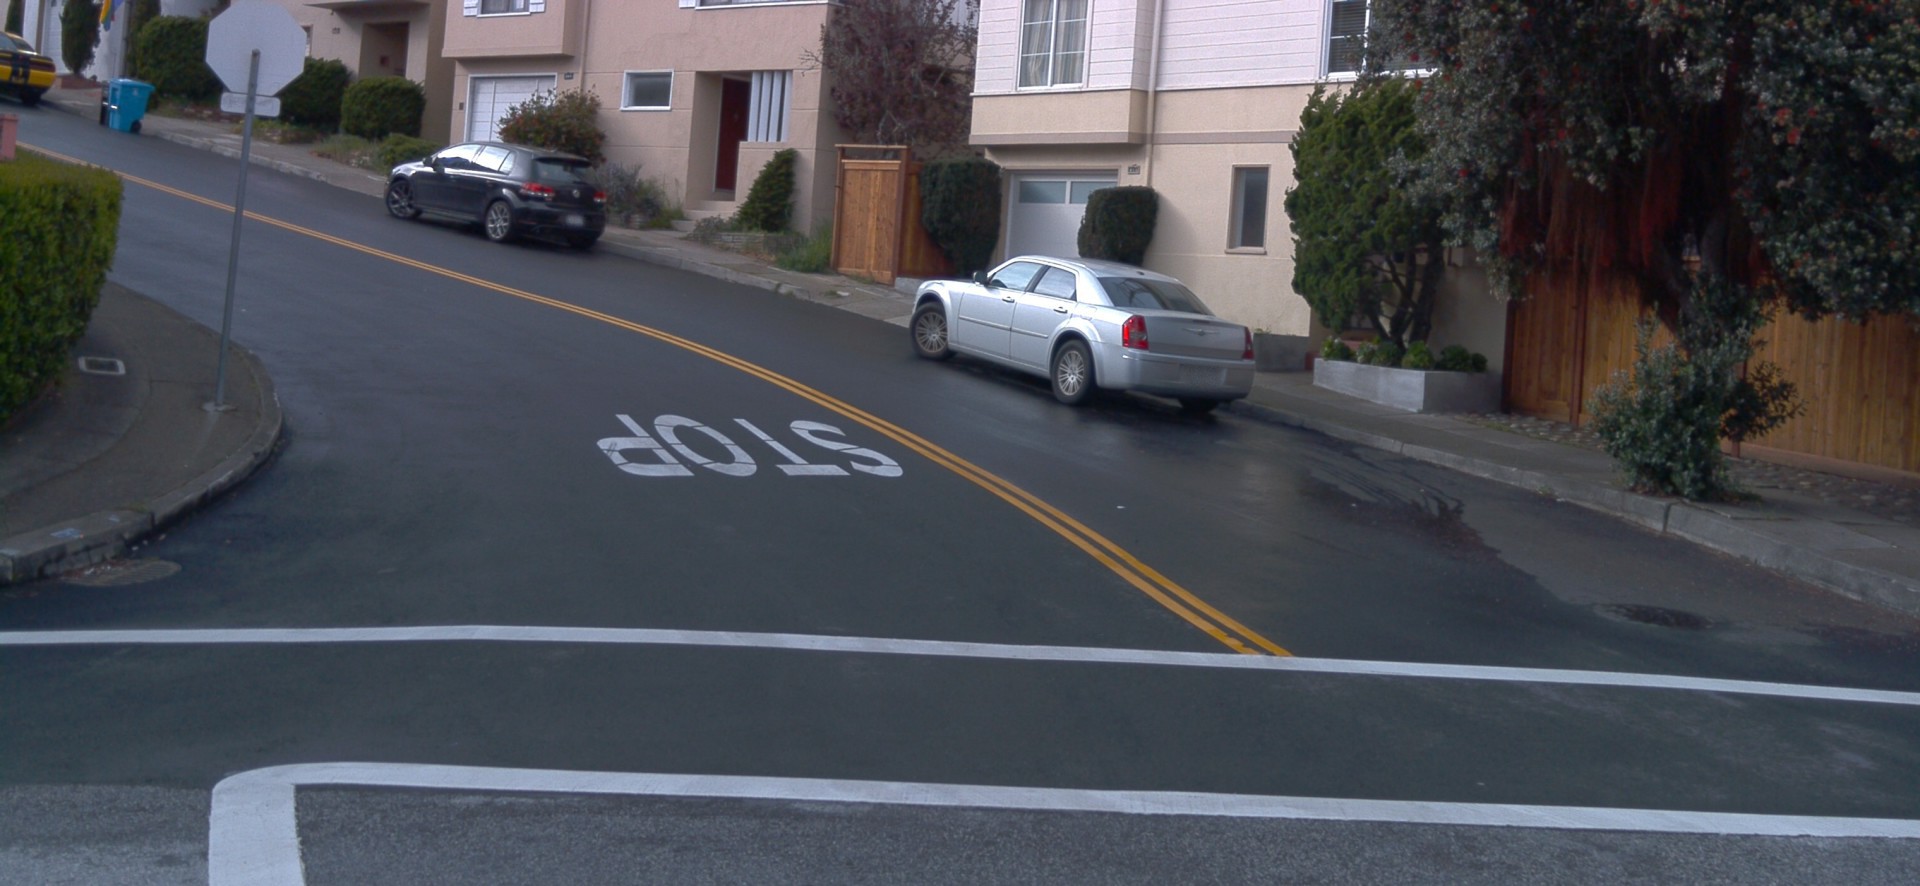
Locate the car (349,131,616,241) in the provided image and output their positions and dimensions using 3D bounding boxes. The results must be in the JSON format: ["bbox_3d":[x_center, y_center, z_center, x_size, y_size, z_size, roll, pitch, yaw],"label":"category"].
[{"bbox_3d":[-7.520,-4.027,32.572,4.119,1.604,1.867,5,6,37],"label":"car"}]

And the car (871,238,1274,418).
[{"bbox_3d":[1.114,-1.399,23.223,1.984,1.682,4.920,-2,6,-33],"label":"car"}]
